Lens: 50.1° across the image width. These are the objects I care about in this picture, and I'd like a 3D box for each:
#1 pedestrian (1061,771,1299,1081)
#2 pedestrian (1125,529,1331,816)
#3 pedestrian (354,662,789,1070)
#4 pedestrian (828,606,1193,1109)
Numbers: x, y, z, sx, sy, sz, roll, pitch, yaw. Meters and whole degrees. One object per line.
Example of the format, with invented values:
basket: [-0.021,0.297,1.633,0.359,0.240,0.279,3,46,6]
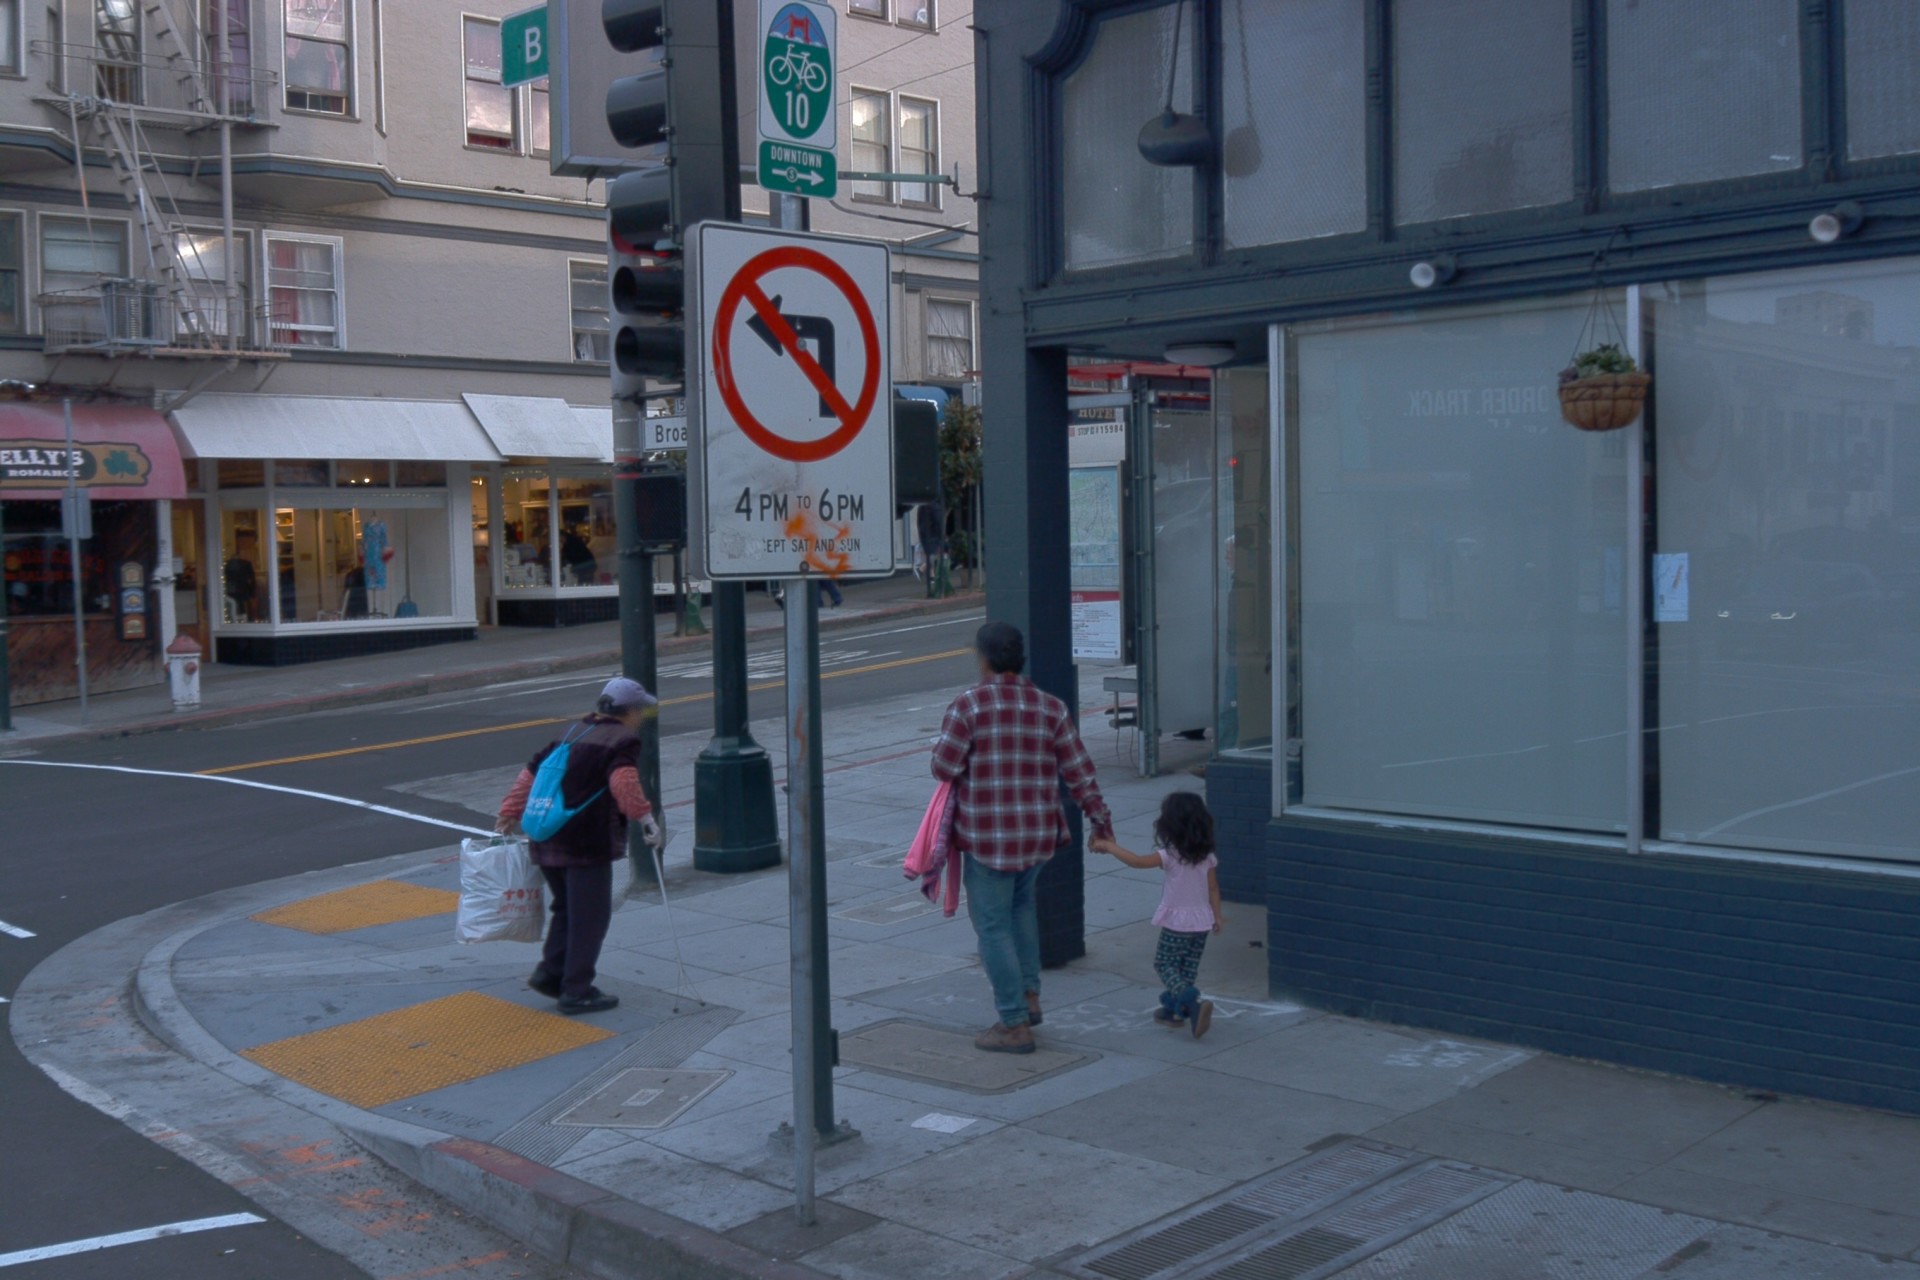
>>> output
pedestrian: [0.878,1.118,8.284,0.659,1.120,0.695,0,0,-31]
pedestrian: [1.854,0.213,14.243,1.077,1.890,0.897,0,1,-38]
pedestrian: [-1.756,0.927,9.314,1.353,1.630,1.390,1,1,43]
pedestrian: [0.190,0.793,8.236,0.954,1.840,1.114,0,1,-38]
